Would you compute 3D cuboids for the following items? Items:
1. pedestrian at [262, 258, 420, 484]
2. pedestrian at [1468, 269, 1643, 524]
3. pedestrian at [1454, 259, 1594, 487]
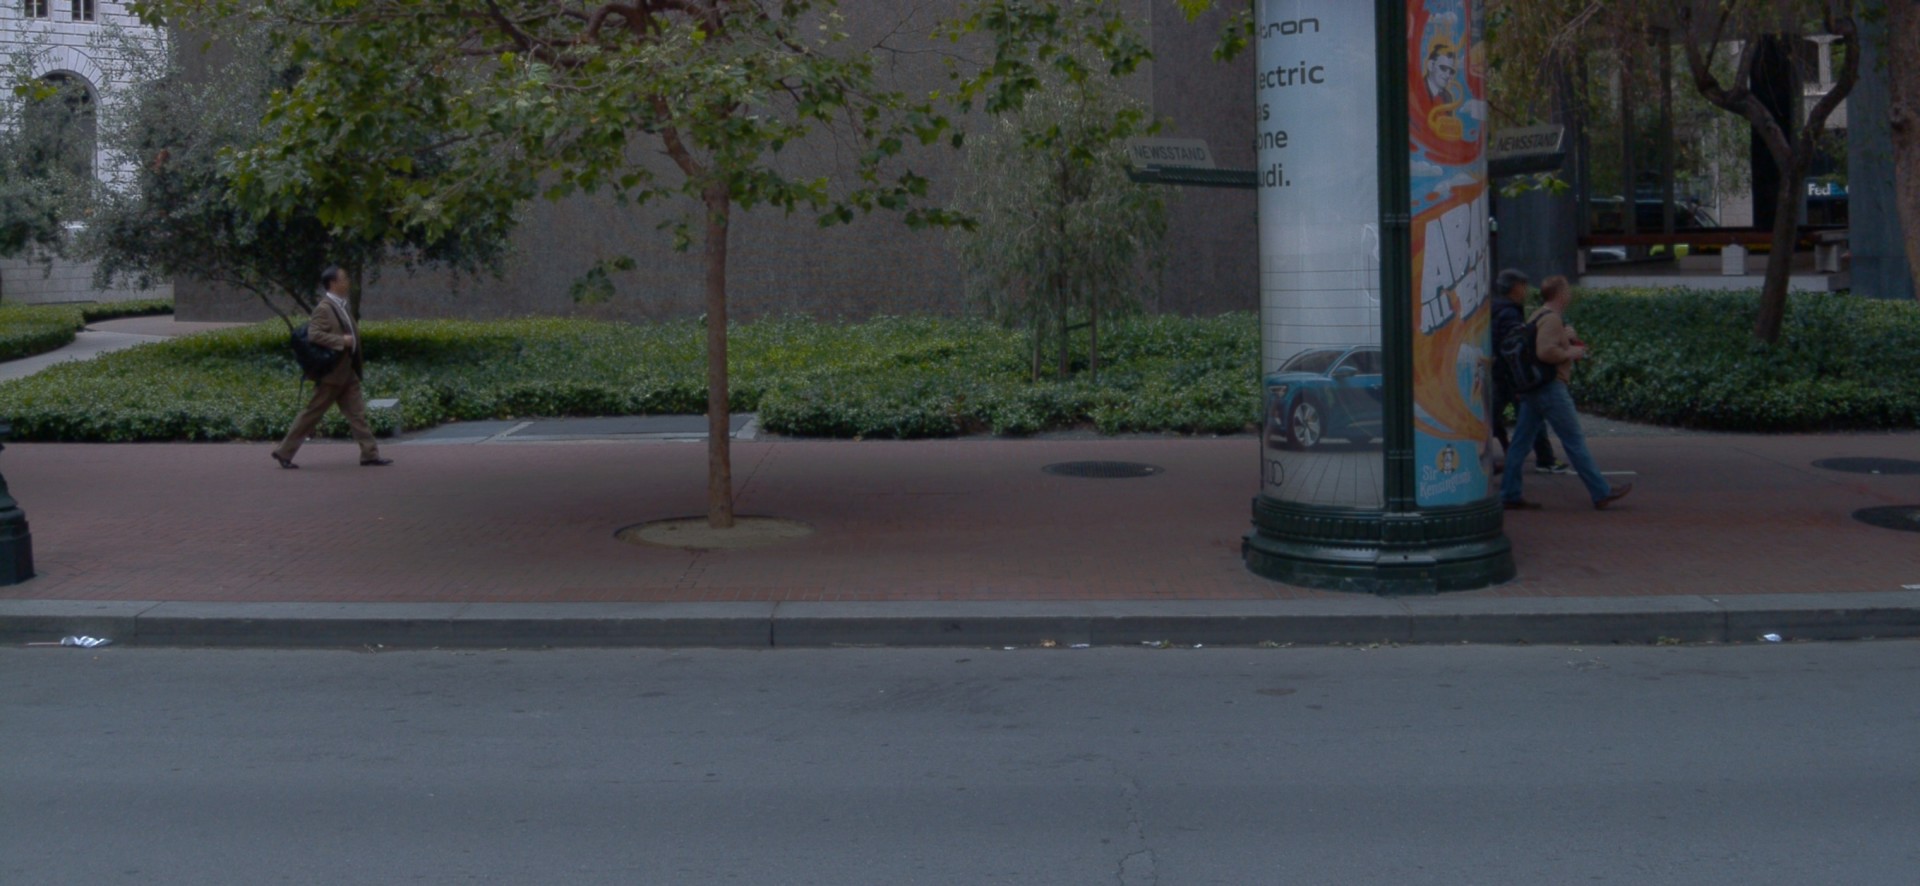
[{"bbox_3d":[-5.365,-0.655,18.016,1.098,1.877,1.032,0,2,-3],"label":"pedestrian"},{"bbox_3d":[4.399,-0.368,15.349,1.076,1.827,0.737,0,2,-1],"label":"pedestrian"},{"bbox_3d":[4.677,-0.608,17.242,0.935,1.827,0.894,0,2,2],"label":"pedestrian"}]
